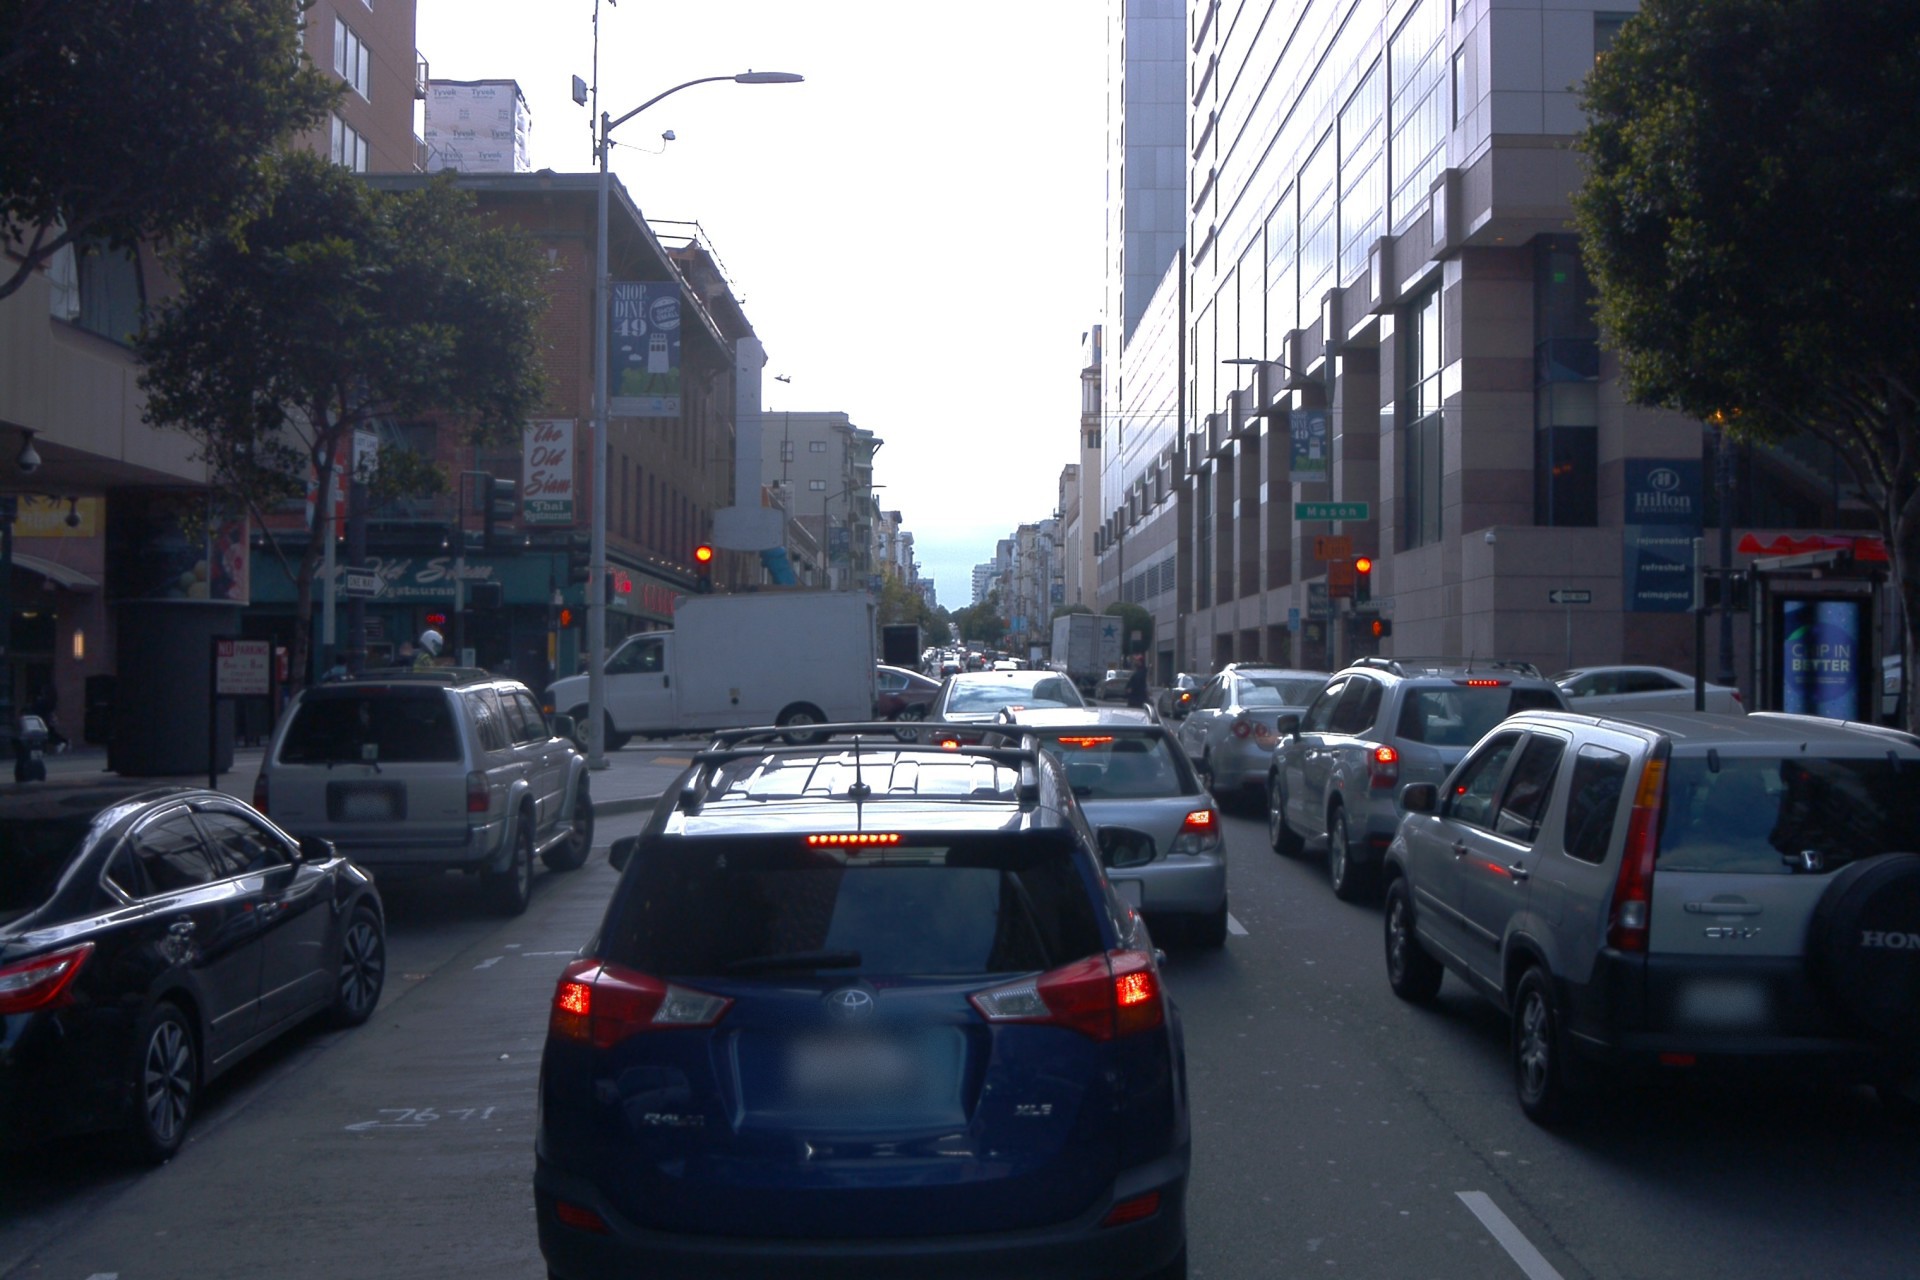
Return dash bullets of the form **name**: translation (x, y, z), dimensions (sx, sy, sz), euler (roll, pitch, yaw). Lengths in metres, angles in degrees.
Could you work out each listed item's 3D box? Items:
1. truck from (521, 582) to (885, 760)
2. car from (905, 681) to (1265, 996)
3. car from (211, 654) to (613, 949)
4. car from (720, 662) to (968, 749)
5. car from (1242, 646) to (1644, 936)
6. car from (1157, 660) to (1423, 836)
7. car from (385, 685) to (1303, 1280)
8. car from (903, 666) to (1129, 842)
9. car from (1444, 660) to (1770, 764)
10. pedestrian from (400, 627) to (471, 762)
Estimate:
- **truck**: translation (-4.236, 0.495, 34.639), dimensions (5.805, 2.890, 2.235), euler (0, 1, 3)
- **car**: translation (0.757, 1.171, 13.993), dimensions (2.030, 1.630, 4.708), euler (0, 1, 1)
- **car**: translation (-4.073, 1.102, 16.150), dimensions (1.995, 1.880, 4.690), euler (0, 1, -1)
- **car**: translation (-2.085, 1.195, 37.882), dimensions (4.426, 1.510, 1.887), euler (0, 1, 2)
- **car**: translation (3.563, 1.021, 16.129), dimensions (2.029, 1.870, 4.665), euler (0, 1, 0)
- **car**: translation (3.436, 1.071, 22.337), dimensions (2.063, 1.590, 4.797), euler (0, 1, -1)
- **car**: translation (-0.292, 1.154, 7.186), dimensions (2.184, 1.830, 4.555), euler (0, 1, 0)
- **car**: translation (0.461, 1.076, 21.243), dimensions (2.074, 1.500, 4.589), euler (0, 1, -1)
- **car**: translation (10.654, 1.178, 34.107), dimensions (4.779, 1.620, 1.945), euler (0, 1, 1)
- **pedestrian**: translation (-7.418, 0.755, 29.080), dimensions (0.708, 1.880, 0.658), euler (0, 1, 29)
